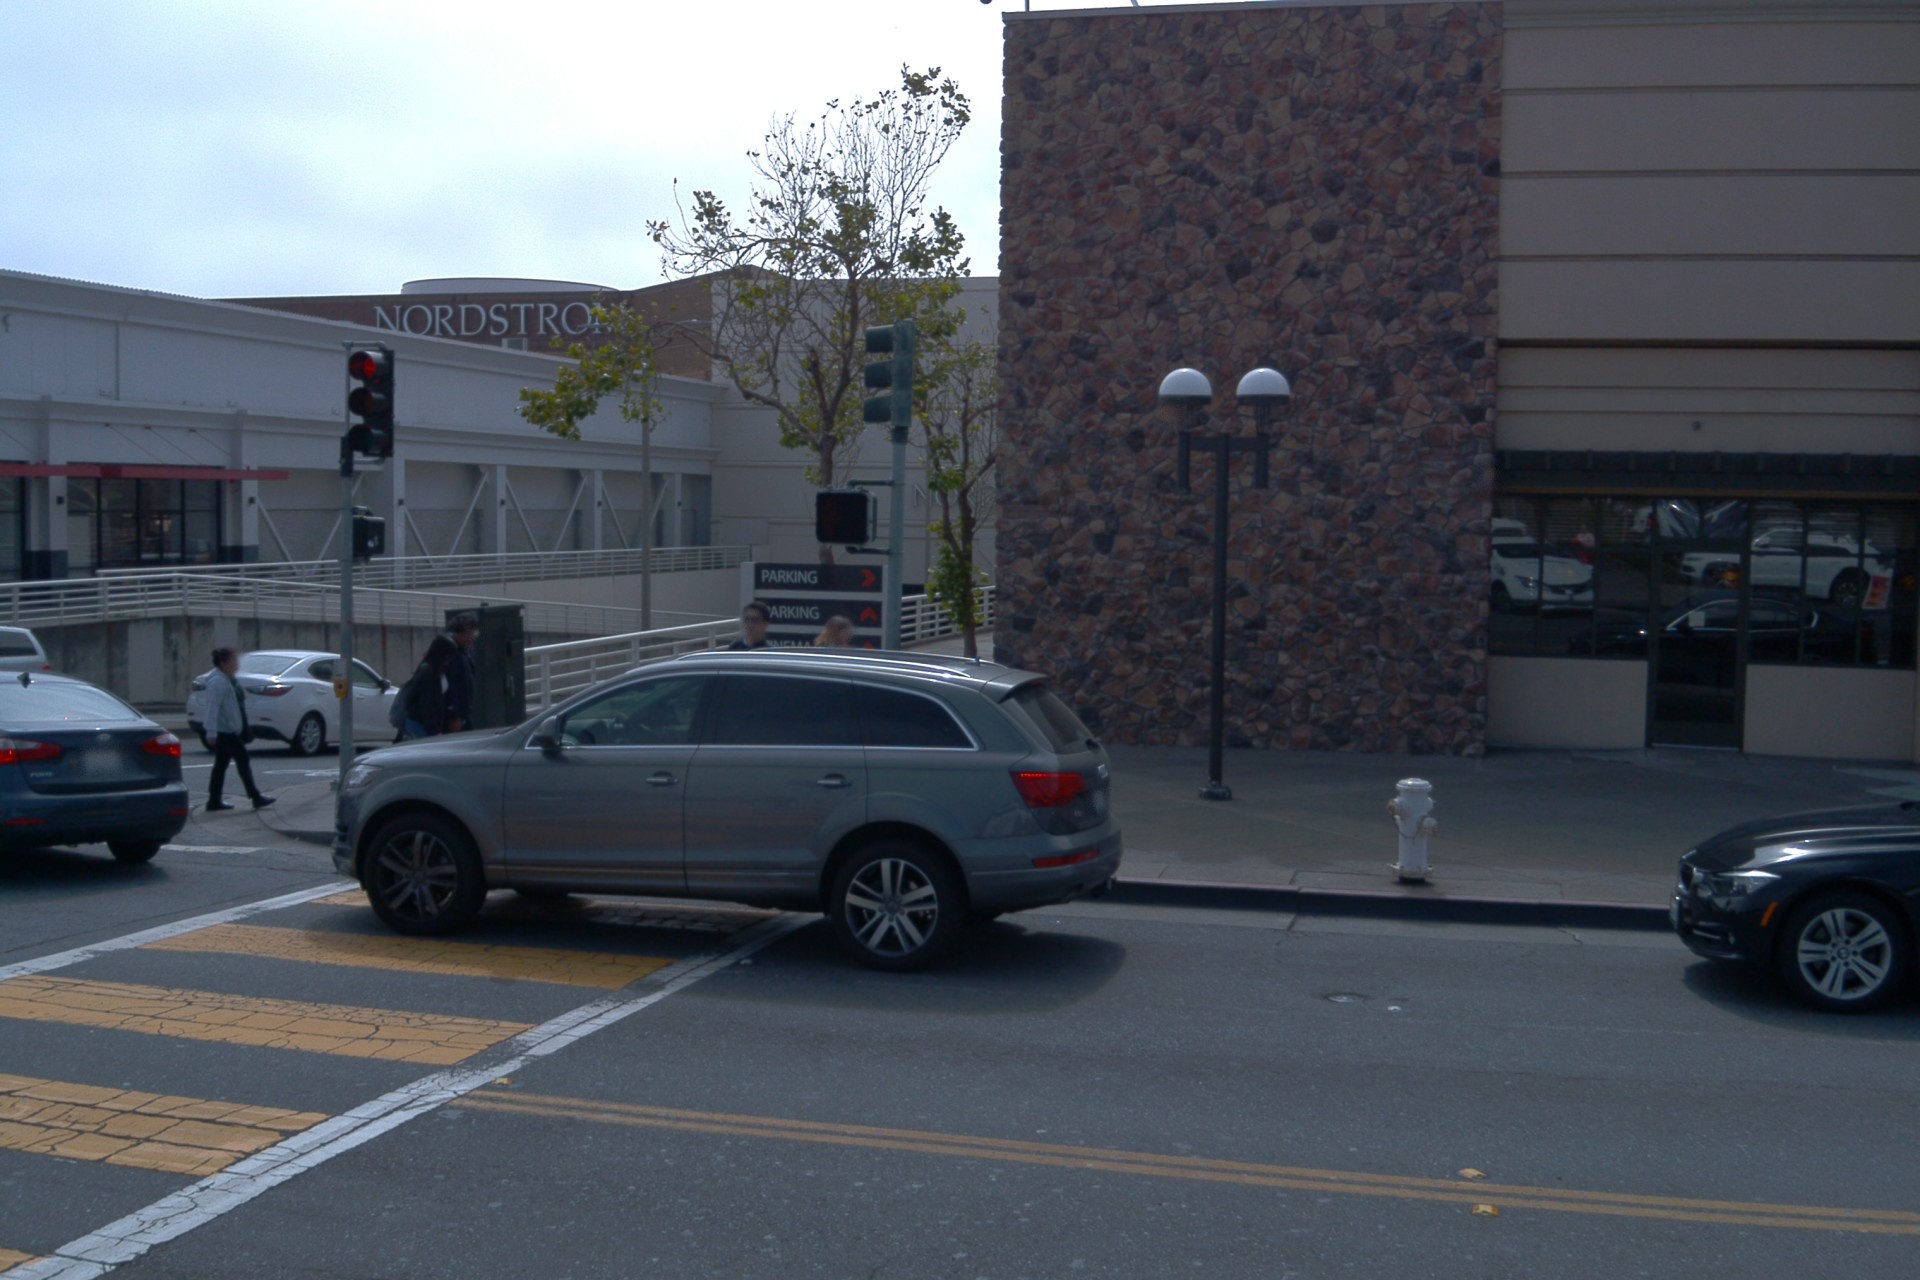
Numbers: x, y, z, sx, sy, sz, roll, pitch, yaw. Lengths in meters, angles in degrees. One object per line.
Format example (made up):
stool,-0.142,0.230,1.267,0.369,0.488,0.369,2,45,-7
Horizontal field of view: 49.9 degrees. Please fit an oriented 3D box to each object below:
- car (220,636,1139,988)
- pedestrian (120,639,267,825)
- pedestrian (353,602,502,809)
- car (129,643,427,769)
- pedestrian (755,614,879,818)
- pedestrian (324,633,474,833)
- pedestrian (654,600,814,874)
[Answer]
car,-1.608,0.900,12.537,5.056,1.820,2.209,0,1,15
pedestrian,-6.878,0.805,18.563,0.975,1.610,0.941,0,1,-1
pedestrian,-4.608,0.550,17.916,1.020,1.750,0.794,0,1,7
car,-9.657,0.874,29.616,1.878,1.600,4.386,0,1,16
pedestrian,-1.190,0.620,17.369,0.928,1.680,0.767,0,1,5
pedestrian,-4.677,0.757,17.248,0.989,1.630,0.741,0,1,7
pedestrian,-1.668,0.687,15.343,0.860,1.960,0.977,0,1,17
